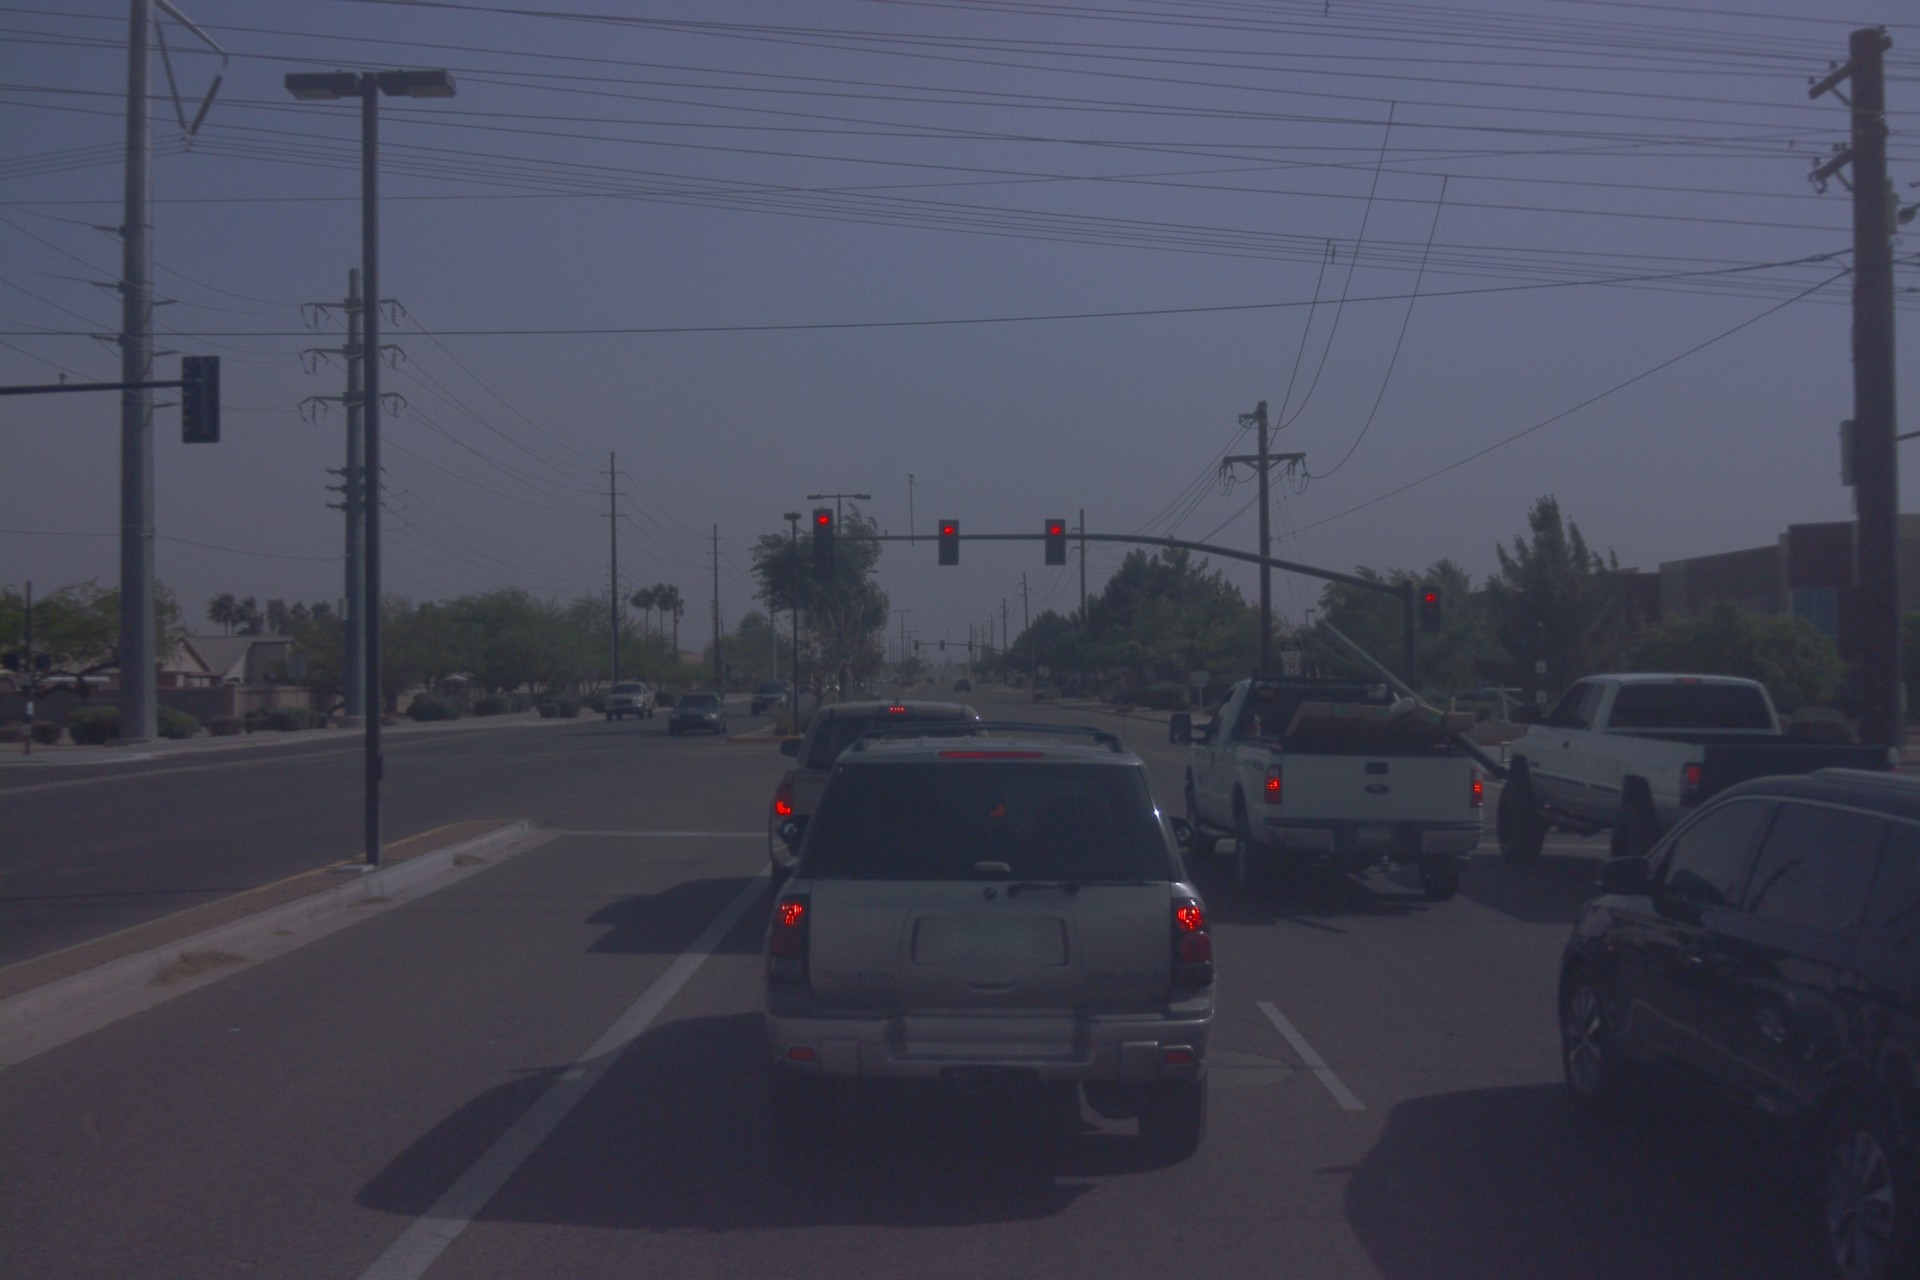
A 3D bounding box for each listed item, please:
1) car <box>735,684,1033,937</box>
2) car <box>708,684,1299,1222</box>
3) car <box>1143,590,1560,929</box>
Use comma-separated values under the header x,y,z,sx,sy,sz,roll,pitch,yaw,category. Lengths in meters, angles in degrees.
x,y,z,sx,sy,sz,roll,pitch,yaw,category
-0.544,1.279,17.241,2.149,1.780,4.304,0,-1,0,car
0.147,1.225,10.156,2.201,1.960,4.684,0,-1,0,car
3.451,1.007,20.143,2.664,2.710,6.759,0,-1,-1,car
